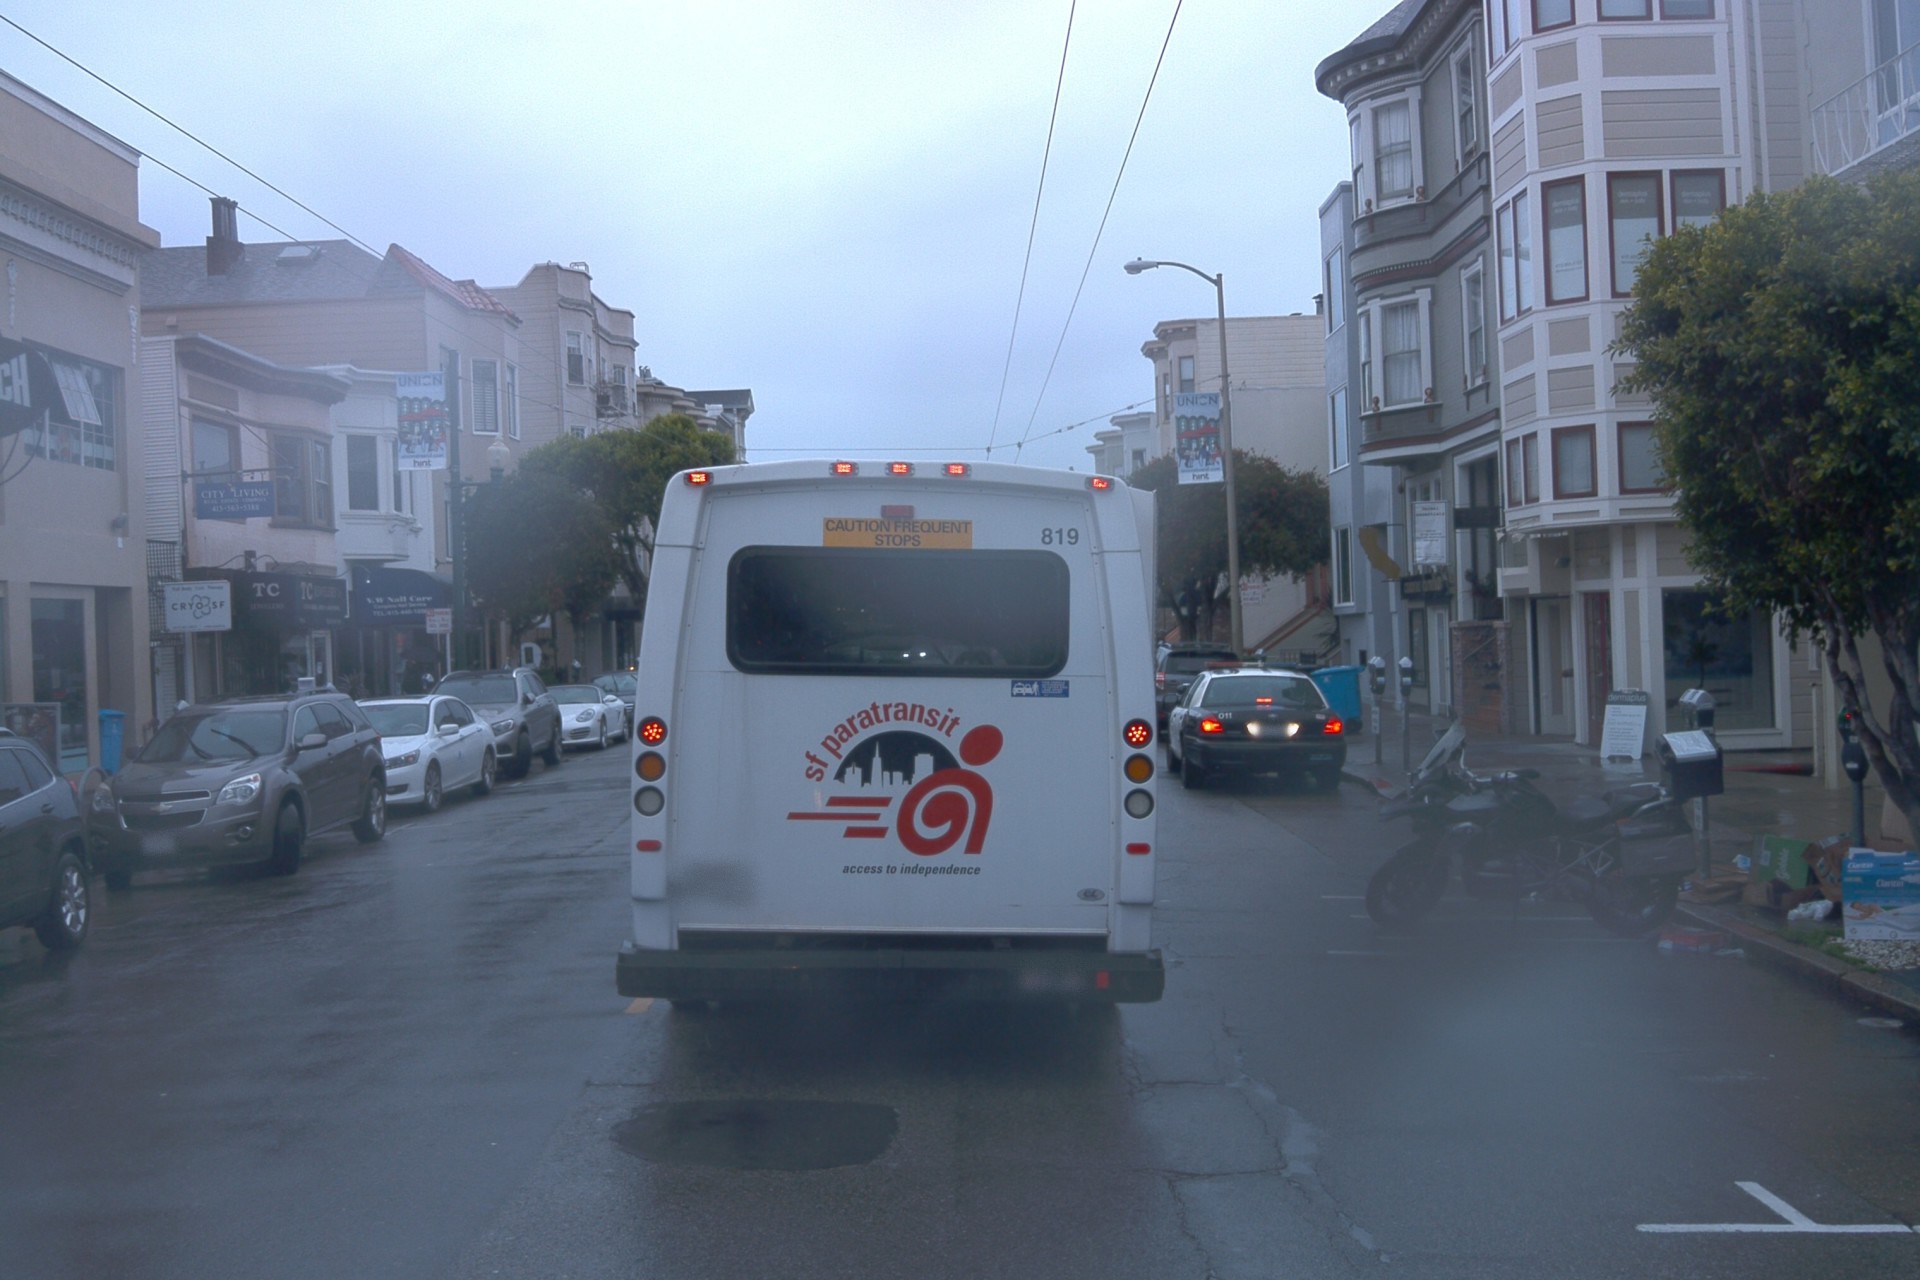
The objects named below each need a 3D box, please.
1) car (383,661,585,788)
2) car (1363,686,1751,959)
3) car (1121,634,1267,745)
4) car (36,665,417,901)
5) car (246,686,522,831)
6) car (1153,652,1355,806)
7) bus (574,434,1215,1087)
[{"bbox_3d":[-7.491,1.281,32.958,2.149,1.760,4.917,1,1,-1],"label":"car"},{"bbox_3d":[3.903,1.163,13.704,2.374,1.650,1.013,1,1,12],"label":"car"},{"bbox_3d":[4.072,0.814,36.516,2.116,1.790,4.480,1,1,1],"label":"car"},{"bbox_3d":[-7.185,1.305,20.830,2.065,1.960,4.992,1,1,0],"label":"car"},{"bbox_3d":[-7.466,1.481,27.319,2.131,1.540,5.132,1,1,1],"label":"car"},{"bbox_3d":[3.676,1.053,26.743,2.108,1.690,5.363,1,1,3],"label":"car"},{"bbox_3d":[-0.405,0.502,12.410,2.787,2.850,6.707,1,1,-2],"label":"bus"}]
